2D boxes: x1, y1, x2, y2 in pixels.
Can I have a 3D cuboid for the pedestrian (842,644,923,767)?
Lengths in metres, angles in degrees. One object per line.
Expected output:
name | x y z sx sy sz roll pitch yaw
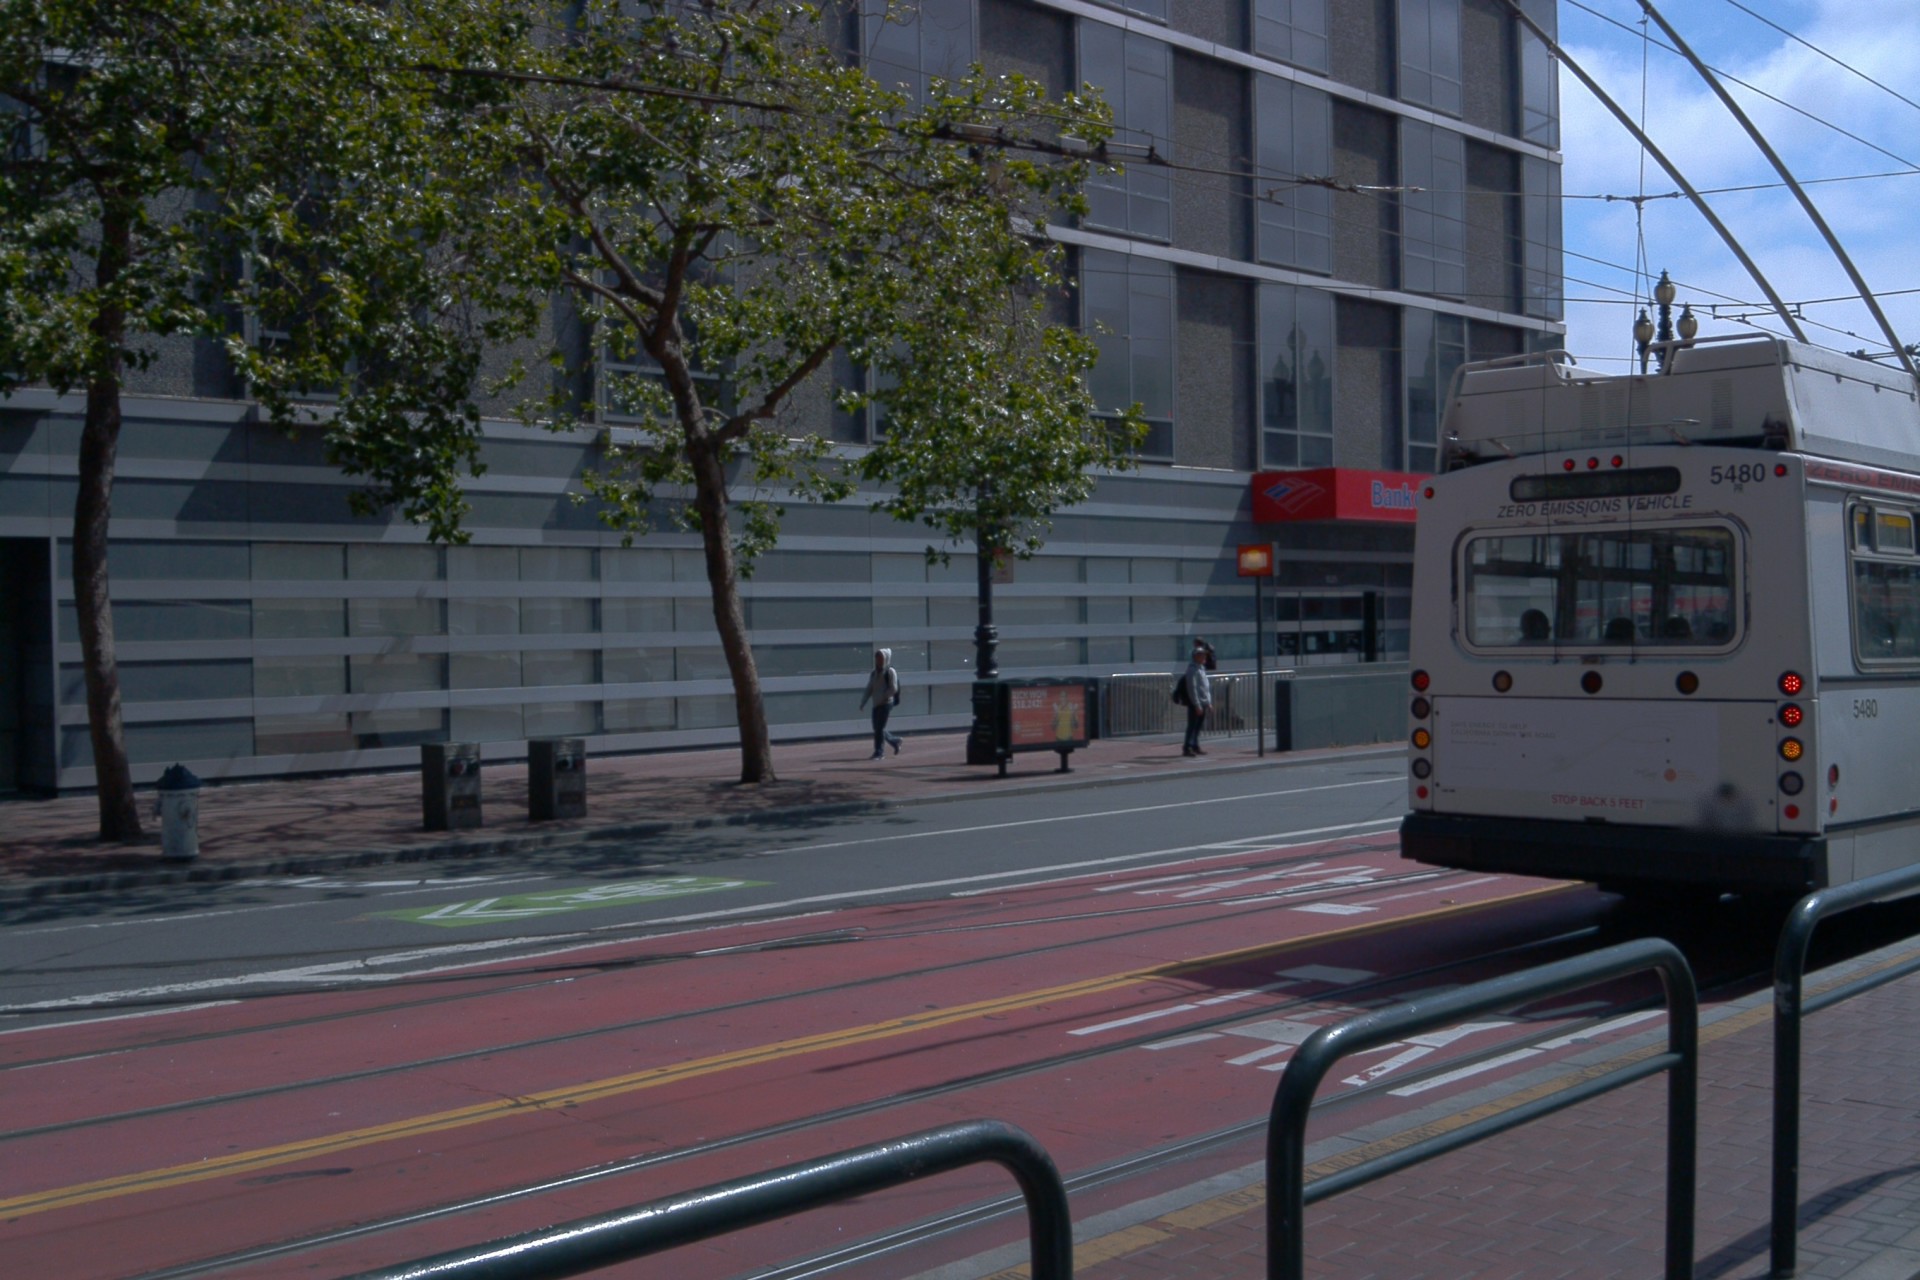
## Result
pedestrian | -1.179 0.970 31.288 0.978 1.810 0.733 -1 1 -43

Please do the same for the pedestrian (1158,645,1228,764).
pedestrian | 3.549 0.973 31.432 0.807 1.770 0.725 0 1 34
